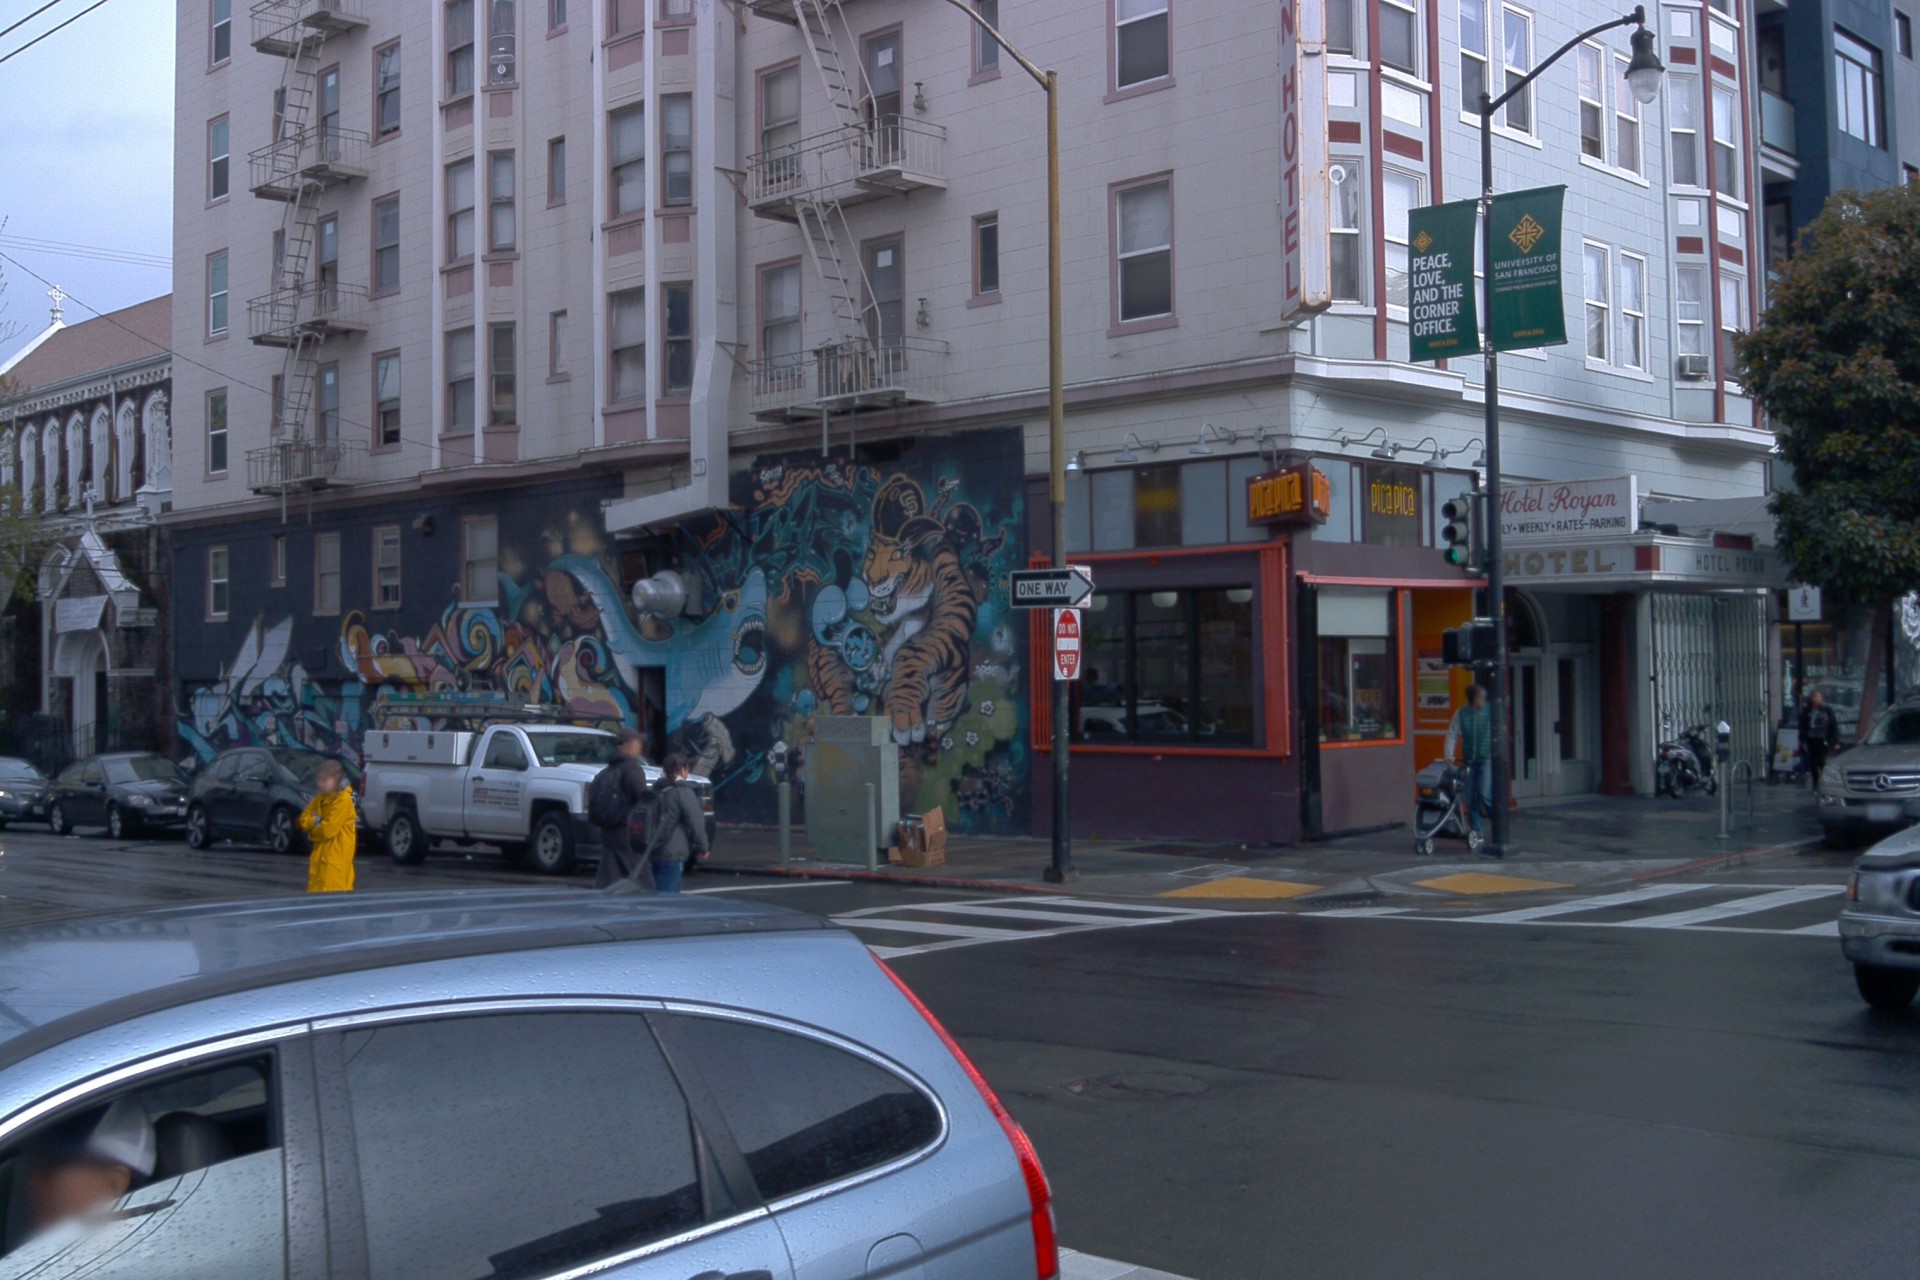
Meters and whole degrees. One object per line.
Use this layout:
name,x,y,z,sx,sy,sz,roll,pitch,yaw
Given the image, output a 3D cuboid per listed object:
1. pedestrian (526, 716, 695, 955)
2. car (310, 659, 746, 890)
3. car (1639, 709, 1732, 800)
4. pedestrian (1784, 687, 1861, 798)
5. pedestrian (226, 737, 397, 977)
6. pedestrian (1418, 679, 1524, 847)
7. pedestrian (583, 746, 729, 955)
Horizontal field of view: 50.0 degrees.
pedestrian,-2.892,1.580,17.031,0.861,1.830,1.077,1,1,43
car,-5.637,1.541,26.168,6.249,2.440,2.327,1,1,44
car,10.864,1.691,30.753,0.638,1.234,1.927,1,1,41
pedestrian,13.133,1.548,31.308,0.852,1.620,0.816,1,1,42
pedestrian,-5.139,1.684,16.321,0.760,1.750,1.040,1,1,36
pedestrian,6.101,1.442,24.545,0.871,1.910,0.946,1,1,41
pedestrian,-2.425,1.651,16.408,0.803,1.530,0.830,1,1,42
